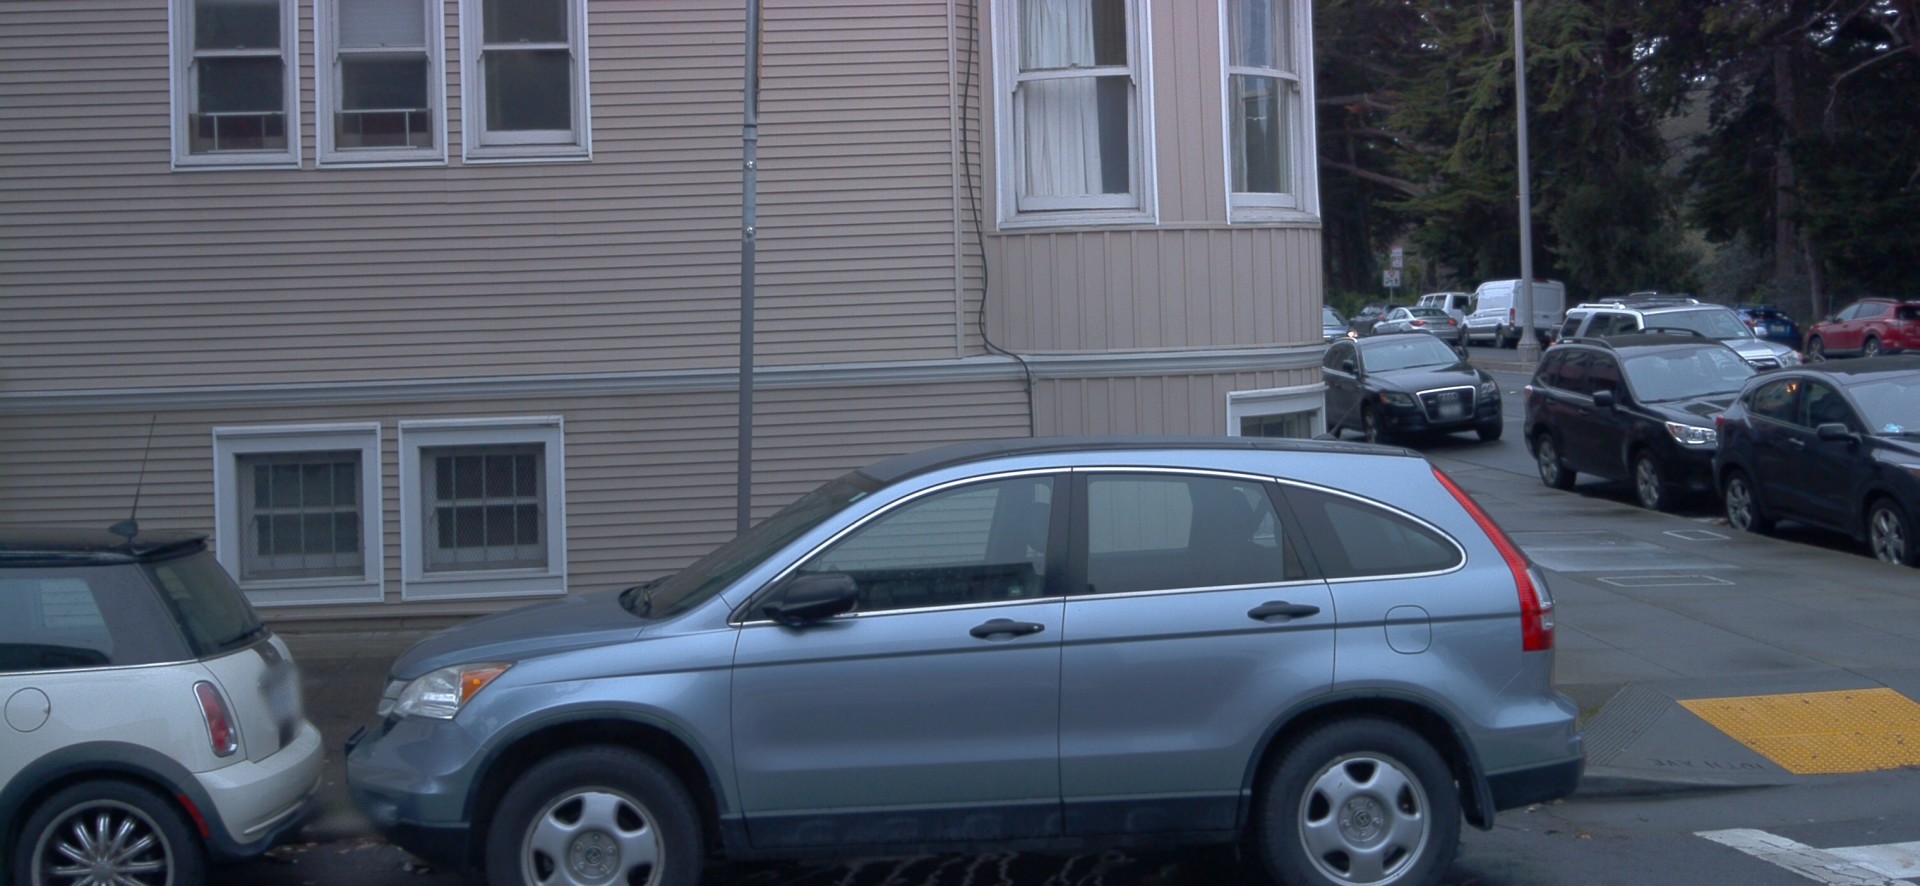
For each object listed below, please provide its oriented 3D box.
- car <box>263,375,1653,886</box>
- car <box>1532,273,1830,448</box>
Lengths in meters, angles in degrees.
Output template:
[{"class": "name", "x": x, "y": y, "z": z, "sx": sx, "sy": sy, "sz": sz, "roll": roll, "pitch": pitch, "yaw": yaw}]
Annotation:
[{"class": "car", "x": -0.021, "y": 0.697, "z": 7.771, "sx": 4.607, "sy": 1.694, "sz": 1.957, "roll": -1, "pitch": 4, "yaw": -7}, {"class": "car", "x": 9.995, "y": -1.269, "z": 29.077, "sx": 2.134, "sy": 2.049, "sz": 4.905, "roll": 0, "pitch": 6, "yaw": -5}]
